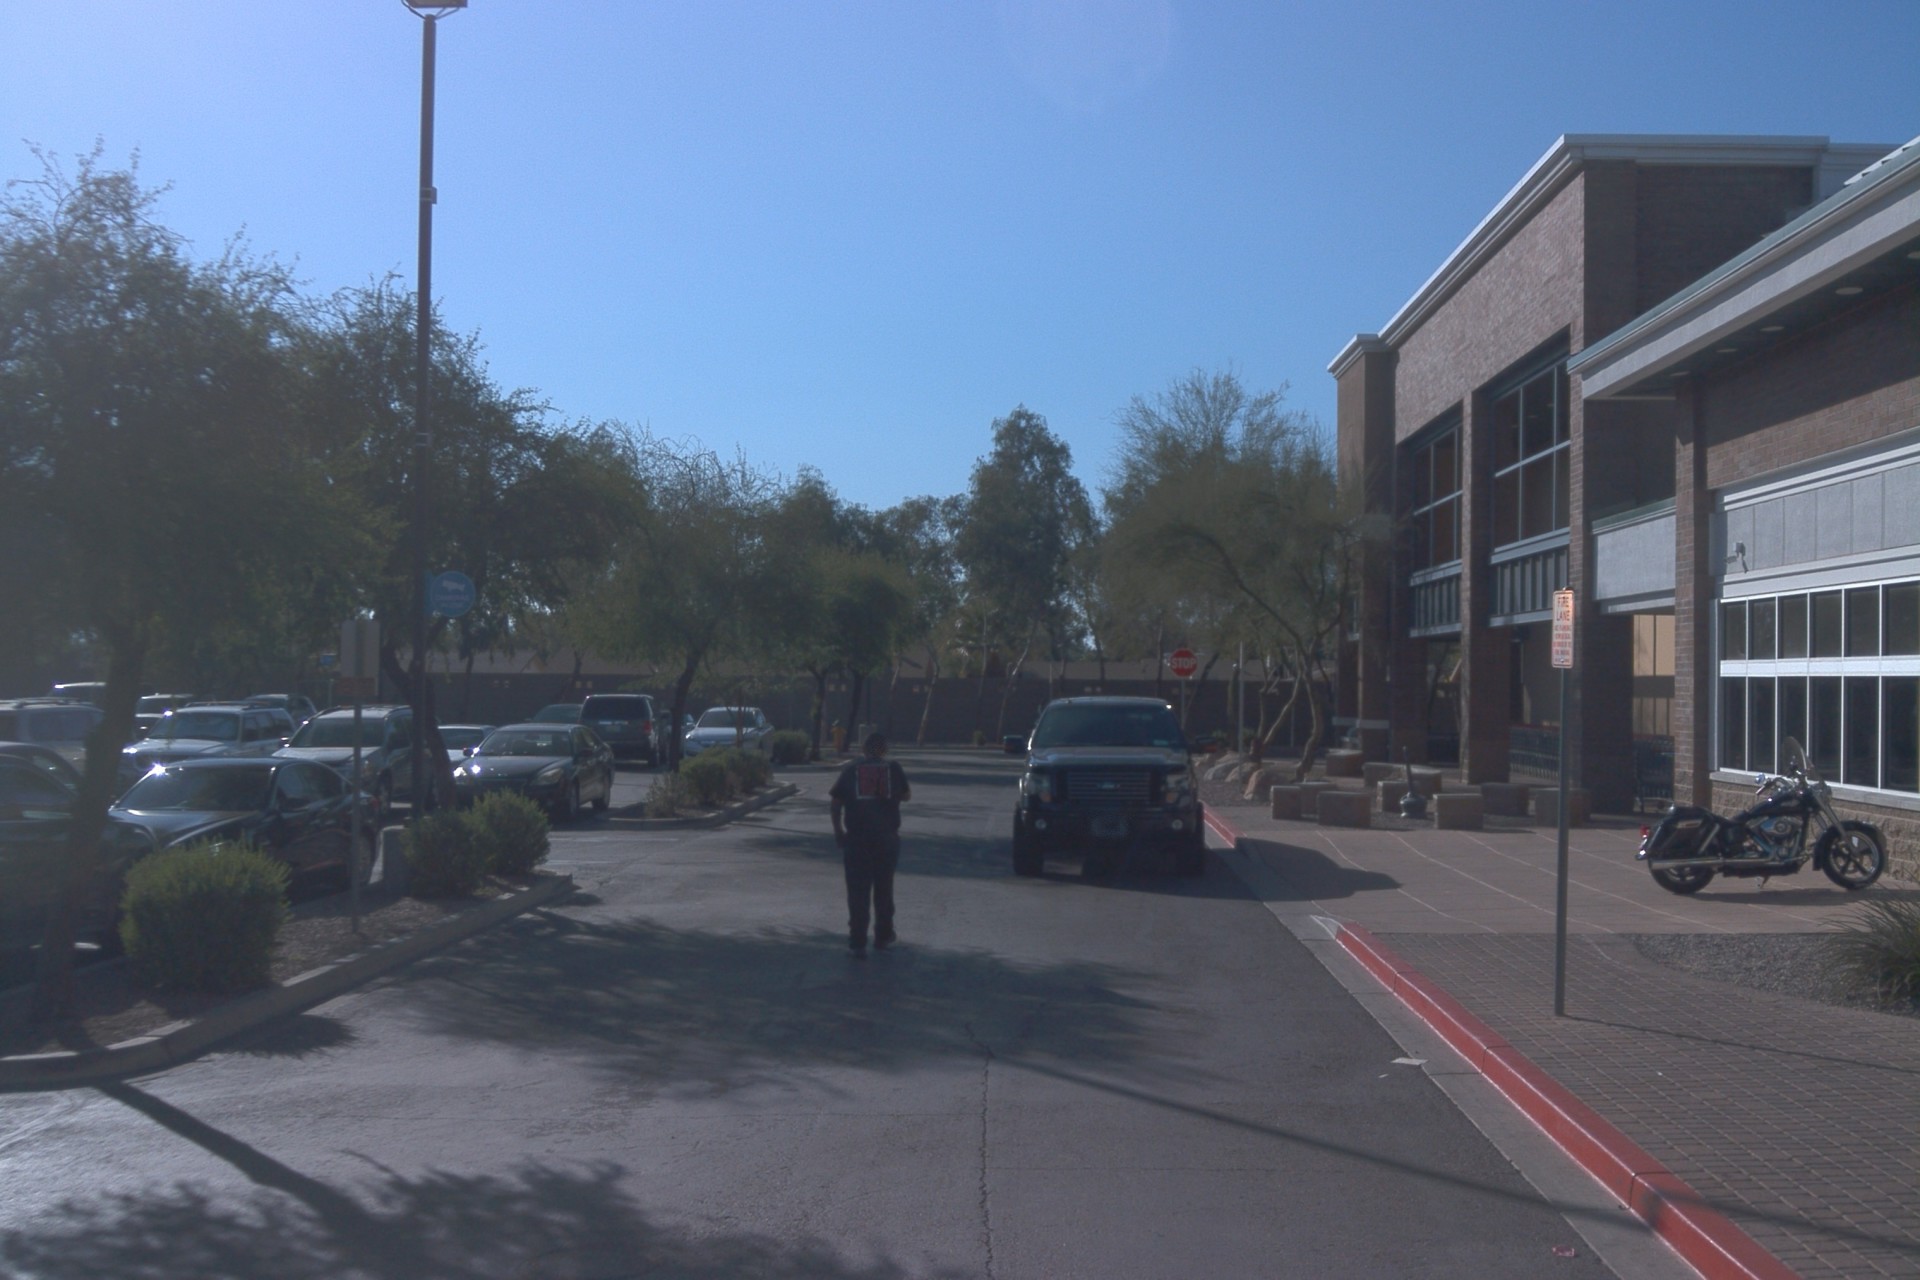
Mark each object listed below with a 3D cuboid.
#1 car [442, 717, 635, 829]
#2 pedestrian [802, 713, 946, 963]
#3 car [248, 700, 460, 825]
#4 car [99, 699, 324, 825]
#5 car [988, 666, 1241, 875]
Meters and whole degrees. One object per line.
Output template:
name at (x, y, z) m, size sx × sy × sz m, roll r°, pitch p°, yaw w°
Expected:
car at (-6.577, 2.043, 32.905) m, size 1.931 × 1.560 × 4.778 m, roll -1°, pitch -1°, yaw 2°
pedestrian at (-0.684, 1.521, 16.324) m, size 1.075 × 1.870 × 1.184 m, roll 0°, pitch -1°, yaw -3°
car at (-9.506, 1.878, 32.957) m, size 1.886 × 1.820 × 4.571 m, roll -1°, pitch -1°, yaw 2°
car at (-11.918, 1.895, 33.377) m, size 1.922 × 1.860 × 4.555 m, roll -1°, pitch -1°, yaw 1°
car at (1.759, 1.453, 24.840) m, size 2.655 × 2.190 × 5.664 m, roll -1°, pitch -1°, yaw 3°
